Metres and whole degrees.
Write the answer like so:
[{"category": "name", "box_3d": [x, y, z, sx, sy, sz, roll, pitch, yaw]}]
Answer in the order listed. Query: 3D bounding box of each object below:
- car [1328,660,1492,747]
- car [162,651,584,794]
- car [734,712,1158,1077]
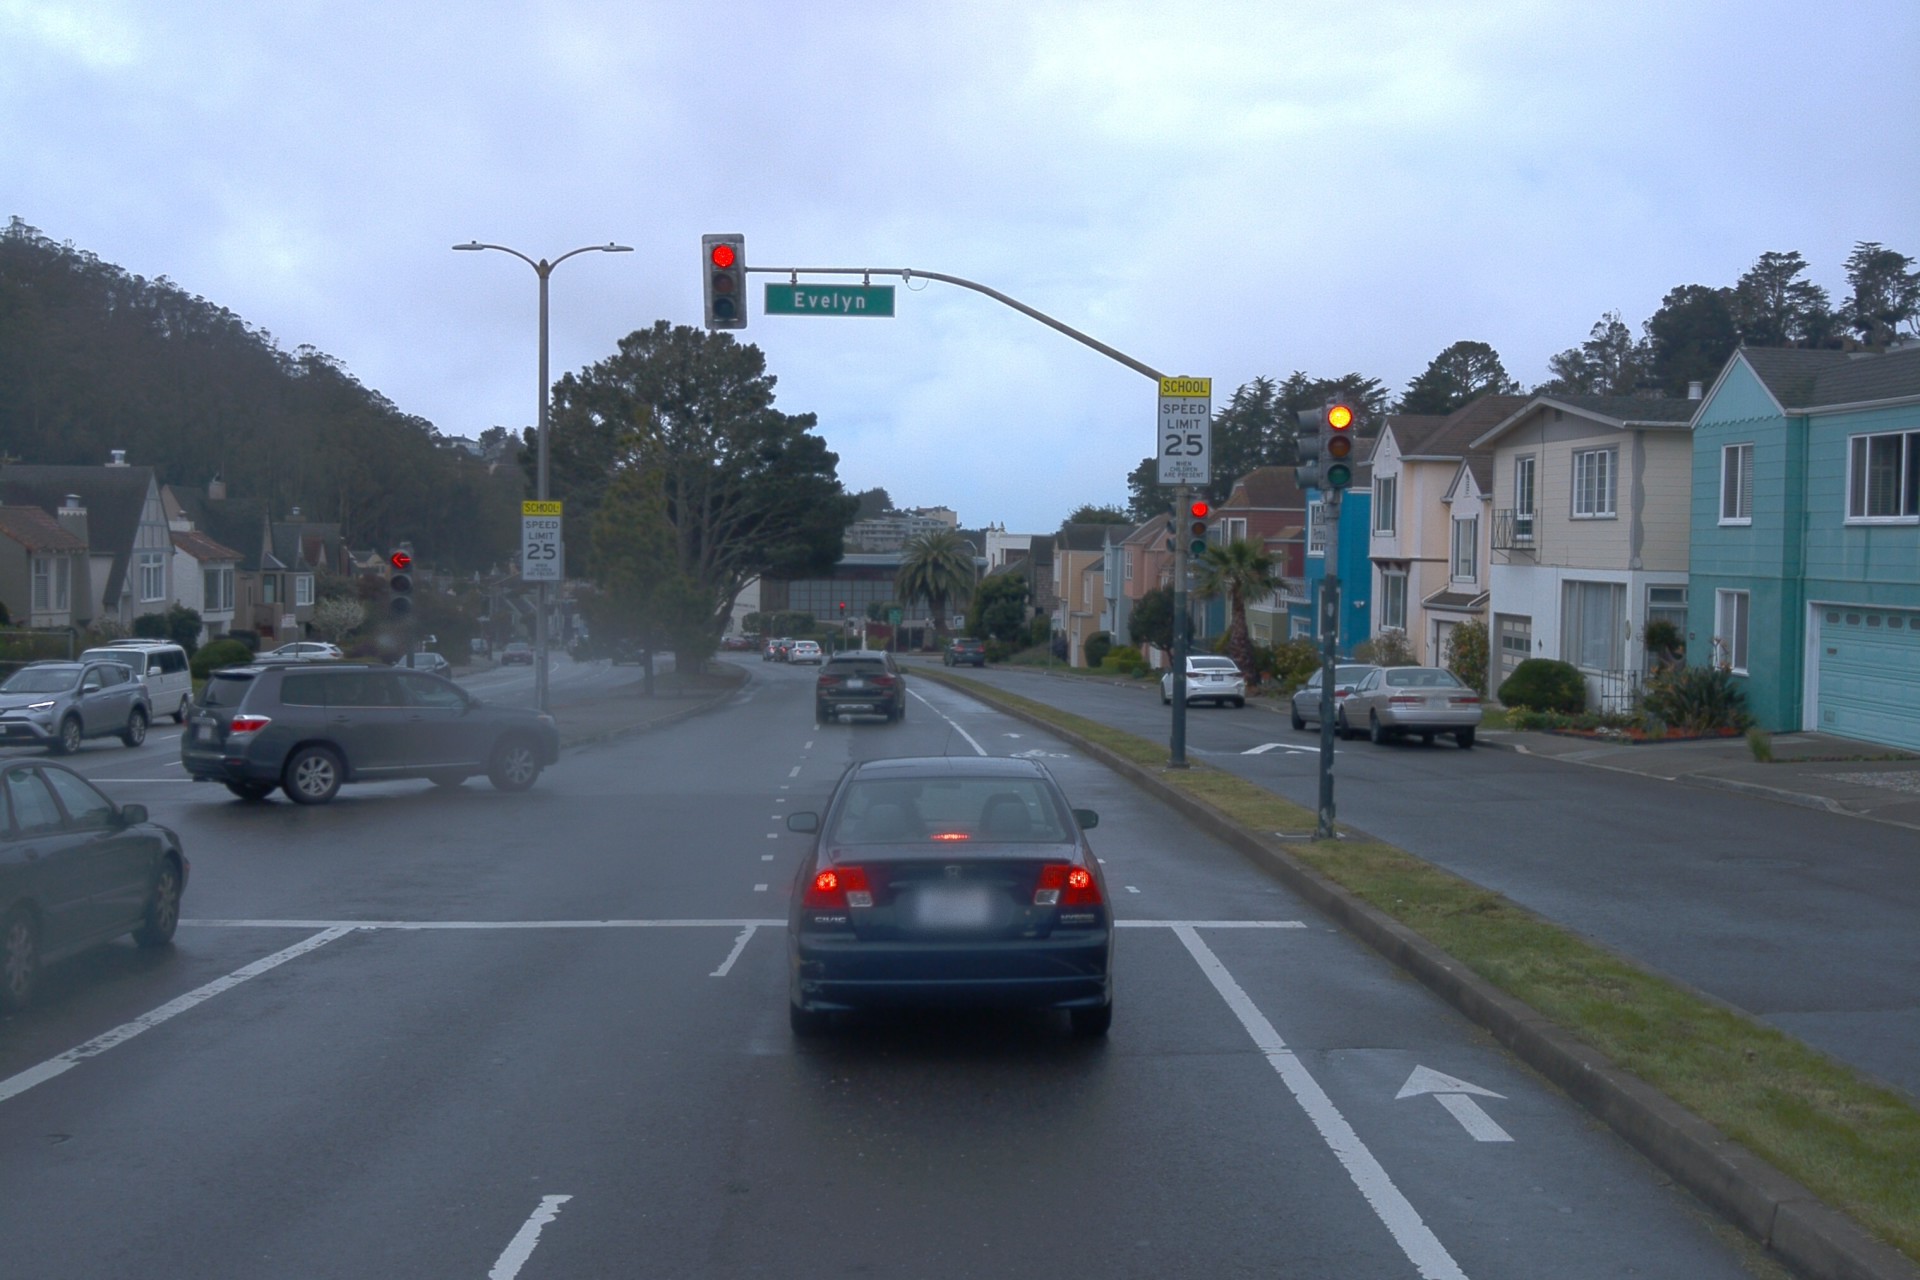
[{"category": "car", "box_3d": [8.083, 1.111, 37.400, 1.755, 1.440, 4.469, 0, 0, -4]}, {"category": "car", "box_3d": [-7.467, 0.977, 26.520, 4.793, 1.660, 2.115, 0, 0, -43]}, {"category": "car", "box_3d": [-0.106, 1.272, 11.814, 2.004, 1.570, 4.164, 0, 0, -1]}]
